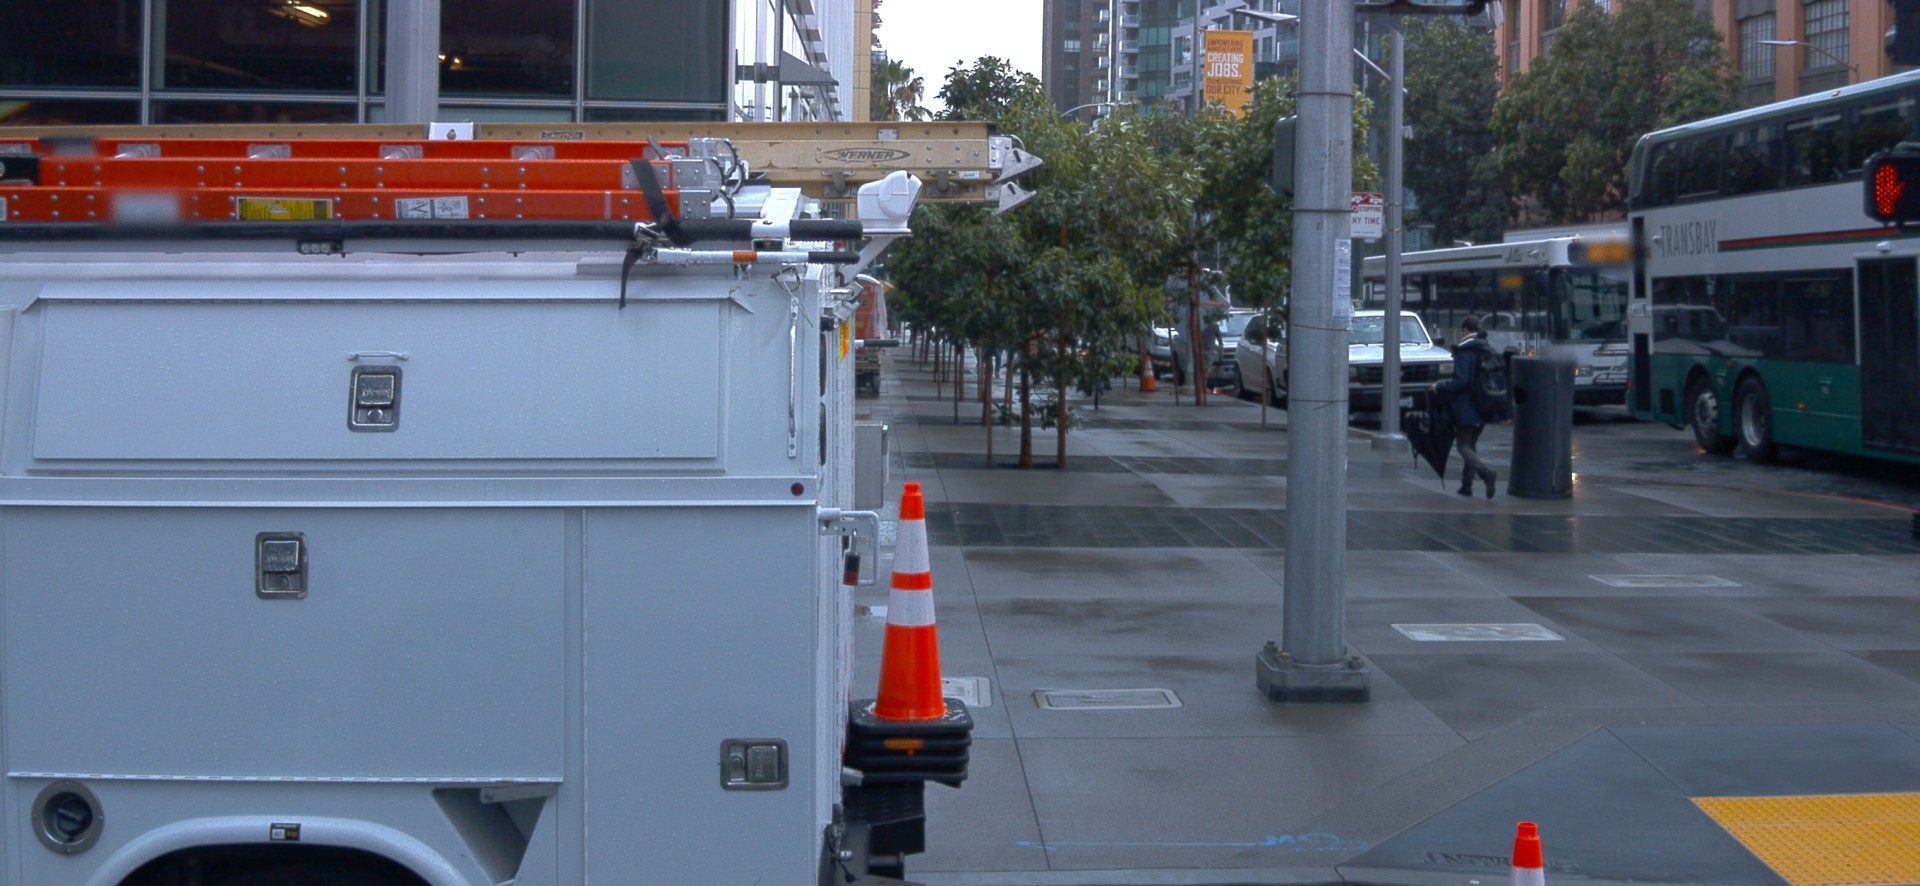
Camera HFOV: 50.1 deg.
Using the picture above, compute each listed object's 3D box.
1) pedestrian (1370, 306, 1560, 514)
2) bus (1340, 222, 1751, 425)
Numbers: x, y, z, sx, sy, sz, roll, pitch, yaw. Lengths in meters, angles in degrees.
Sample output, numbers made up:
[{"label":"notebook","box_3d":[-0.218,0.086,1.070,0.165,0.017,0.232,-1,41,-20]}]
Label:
[{"label":"pedestrian","box_3d":[4.210,-0.308,17.173,1.243,1.638,0.910,-1,2,-19]},{"label":"bus","box_3d":[9.873,-2.418,36.810,3.258,2.996,12.707,0,6,-2]}]
